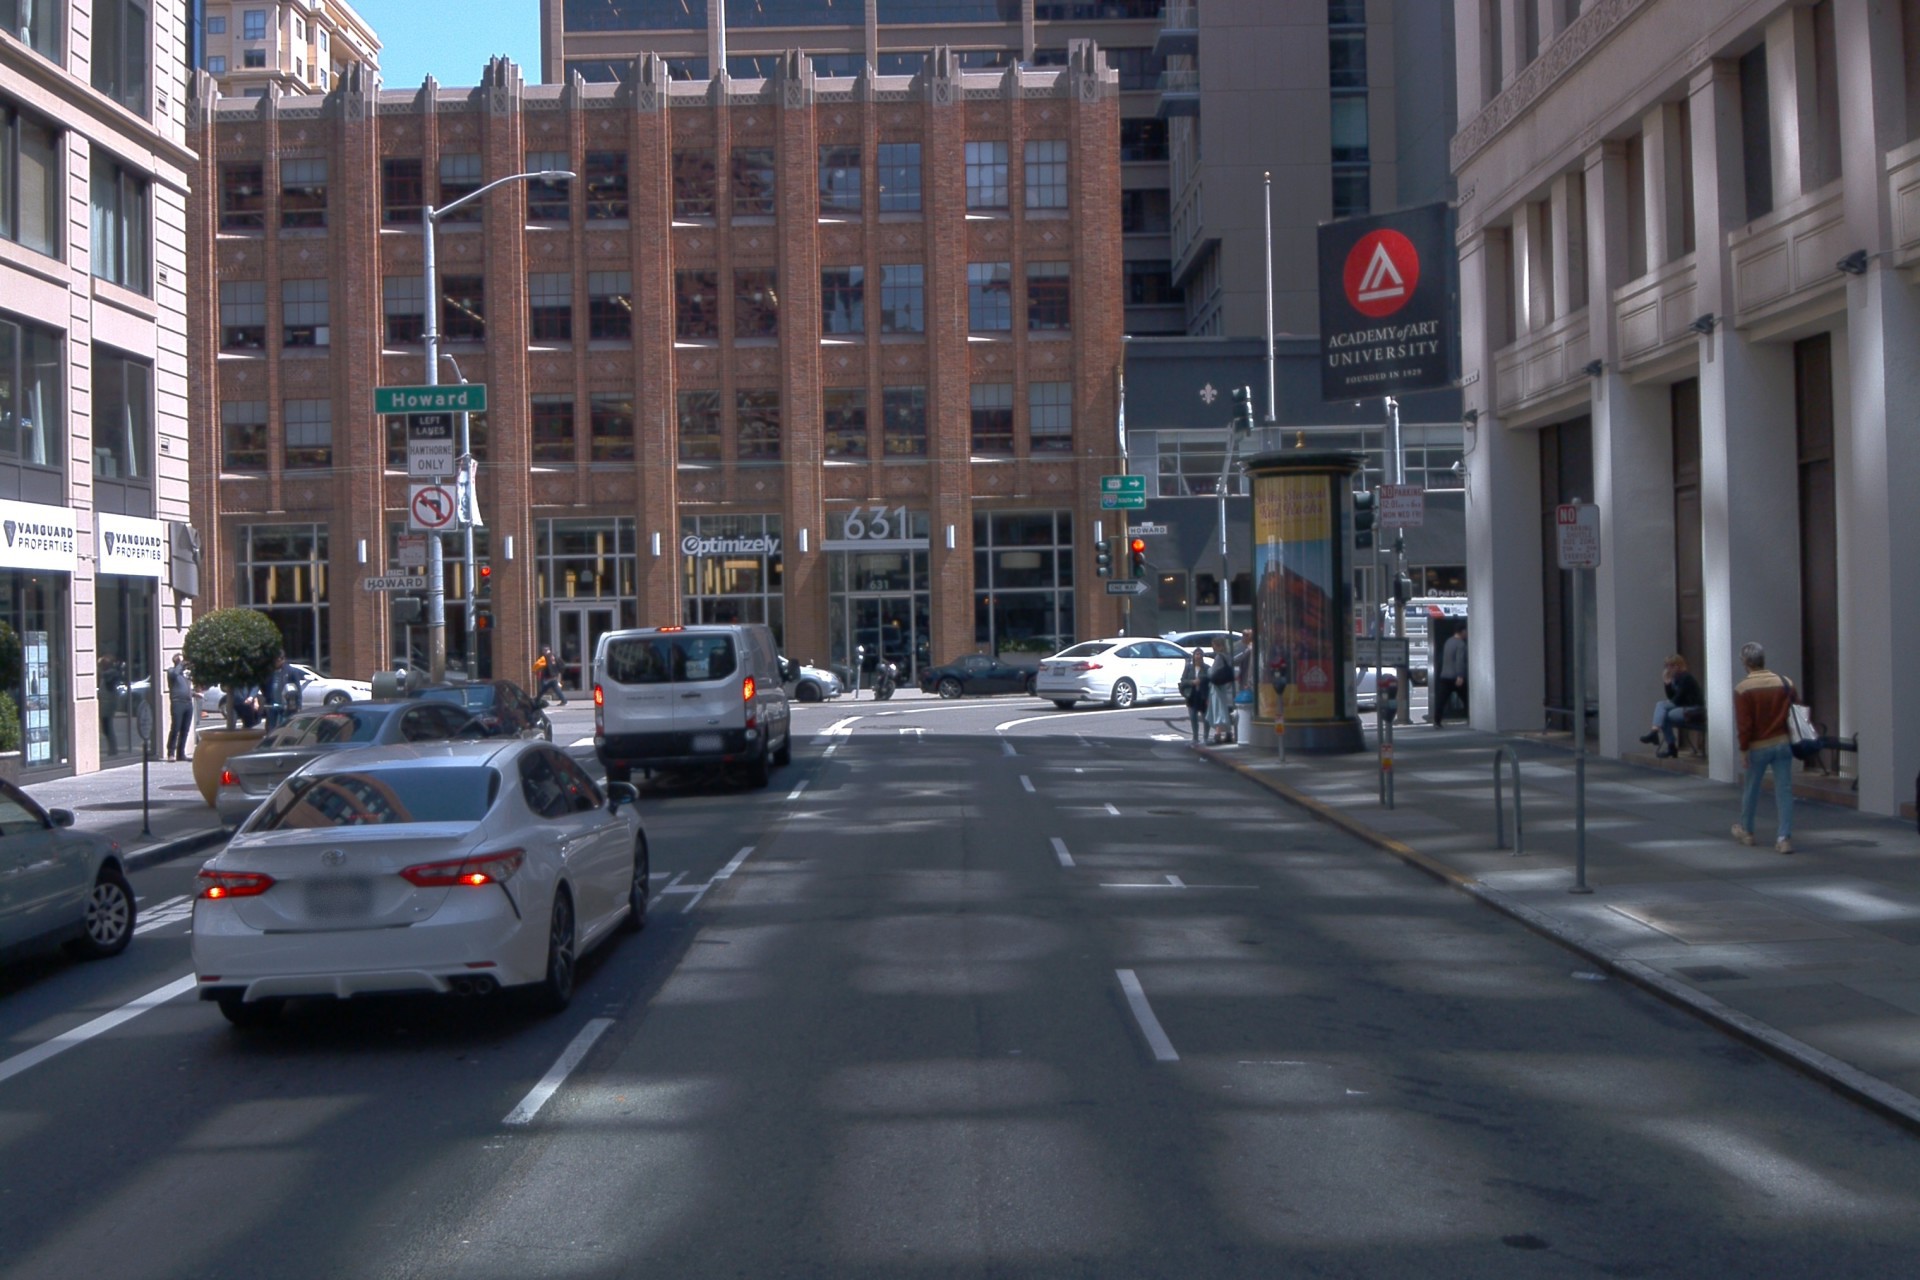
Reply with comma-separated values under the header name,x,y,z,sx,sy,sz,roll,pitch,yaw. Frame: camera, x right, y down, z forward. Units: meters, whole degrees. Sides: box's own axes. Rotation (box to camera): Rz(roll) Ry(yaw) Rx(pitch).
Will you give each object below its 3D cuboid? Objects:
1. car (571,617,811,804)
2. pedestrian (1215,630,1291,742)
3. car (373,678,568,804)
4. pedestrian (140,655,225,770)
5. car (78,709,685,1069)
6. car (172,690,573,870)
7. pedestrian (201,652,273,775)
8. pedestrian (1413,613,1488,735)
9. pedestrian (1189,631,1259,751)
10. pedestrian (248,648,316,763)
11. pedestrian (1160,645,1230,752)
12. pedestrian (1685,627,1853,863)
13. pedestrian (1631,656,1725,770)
name,x,y,z,sx,sy,sz,roll,pitch,yaw
car,-3.397,0.809,27.259,2.374,2.200,5.787,0,1,1
pedestrian,5.077,0.789,35.680,1.239,1.915,0.856,0,1,4
car,-6.751,1.344,28.760,1.770,1.500,4.171,0,1,-1
pedestrian,-11.938,1.095,31.566,0.940,1.726,0.775,0,1,12
car,-3.127,1.284,12.433,2.215,1.500,5.056,0,1,0
car,-6.052,1.379,21.881,1.954,1.500,4.732,0,1,15
pedestrian,-11.135,1.119,31.661,0.776,1.846,0.938,0,1,-1
pedestrian,8.069,0.540,33.810,0.902,1.956,1.135,0,1,31
pedestrian,4.182,0.797,32.531,0.945,1.870,0.617,0,1,28
pedestrian,-10.472,1.001,31.771,0.762,1.736,0.900,0,1,-1
pedestrian,3.823,0.928,33.388,0.801,1.690,0.886,0,1,36
pedestrian,6.551,0.823,16.700,0.898,1.846,1.140,0,1,-1
pedestrian,8.639,0.871,24.760,0.907,1.330,0.658,0,1,1
